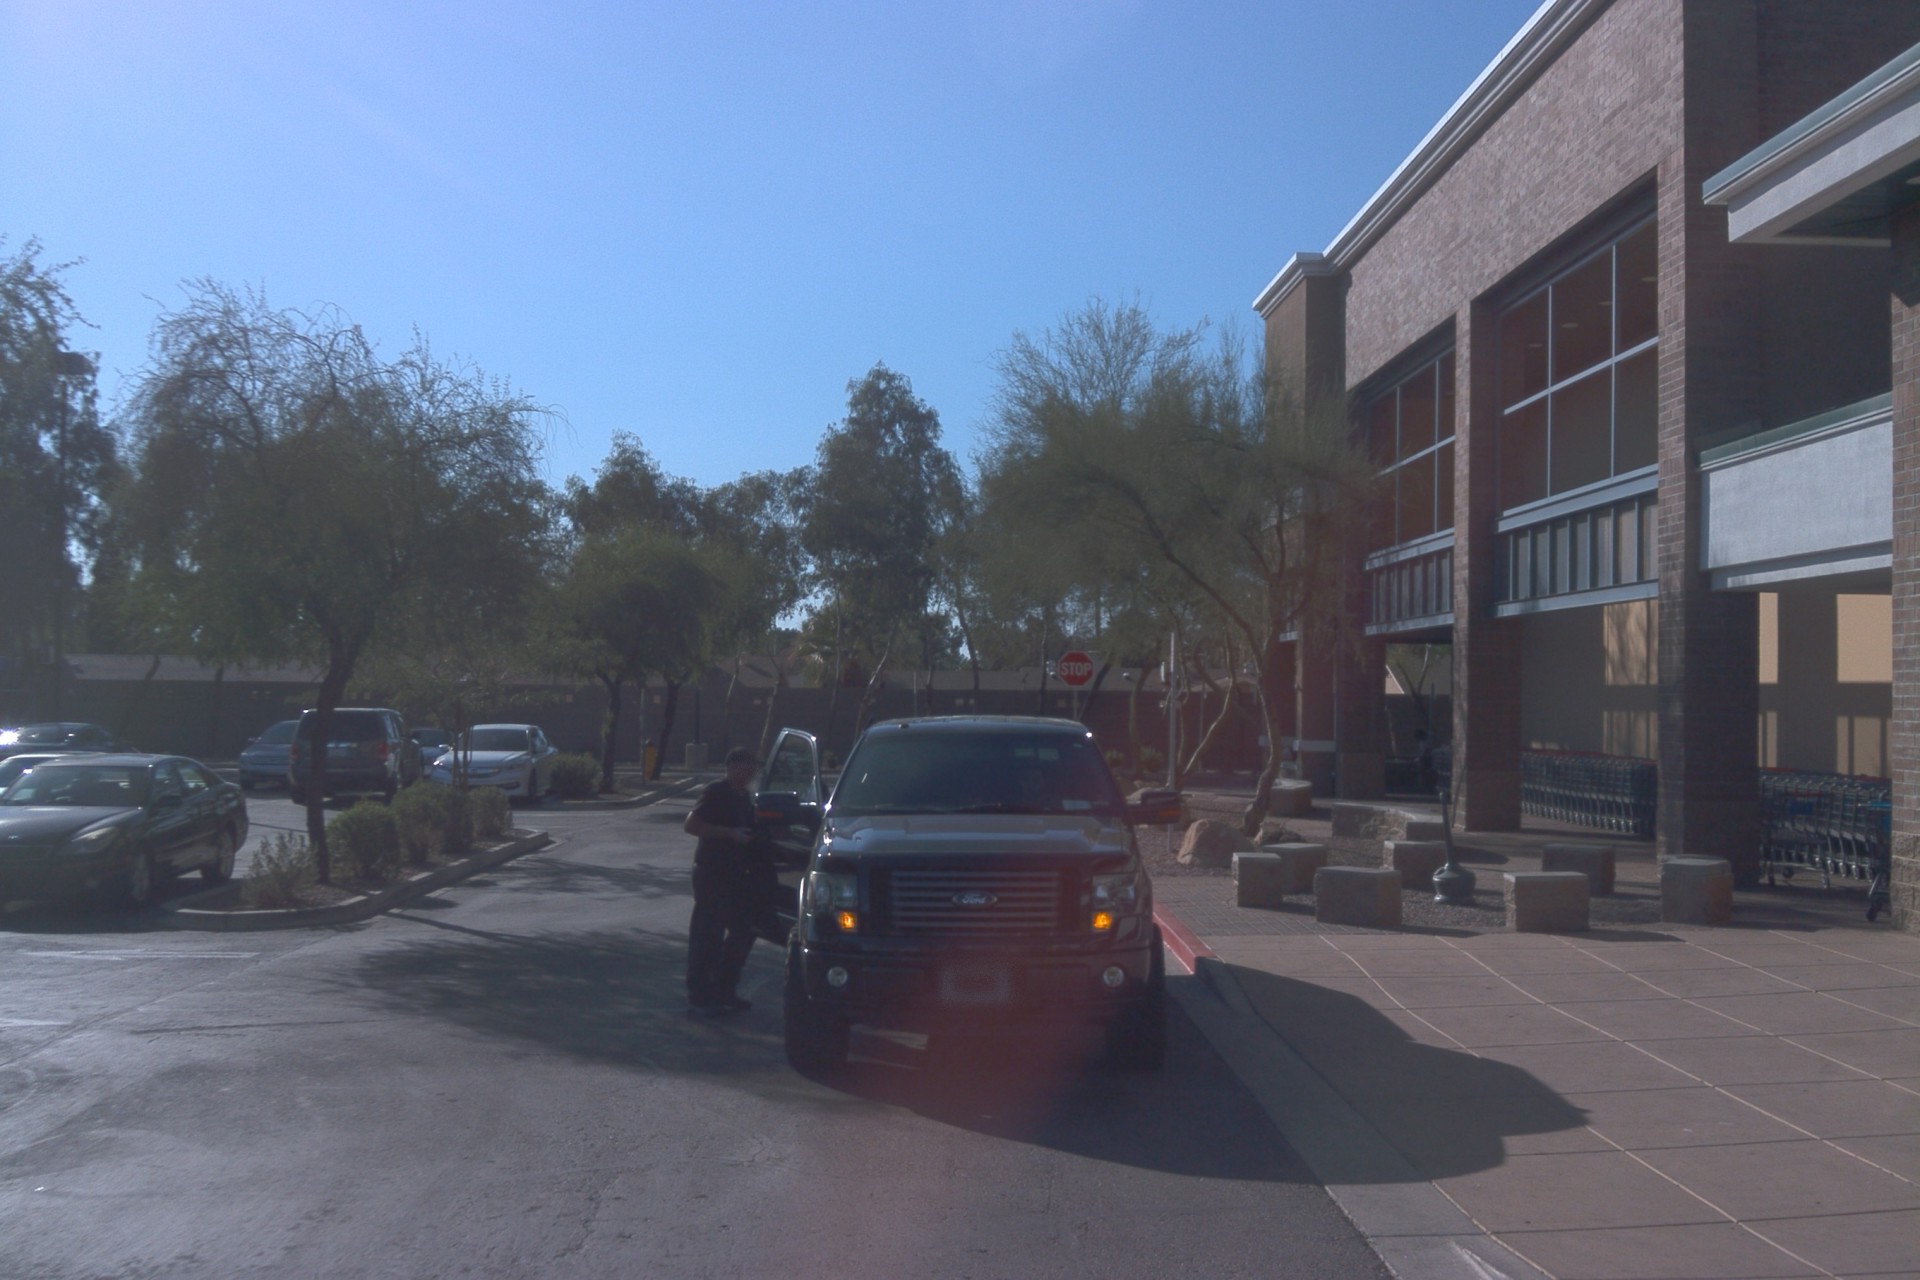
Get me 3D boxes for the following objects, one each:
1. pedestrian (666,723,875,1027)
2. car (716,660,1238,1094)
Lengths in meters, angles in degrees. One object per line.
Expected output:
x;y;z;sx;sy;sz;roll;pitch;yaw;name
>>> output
-1.265;1.493;13.654;1.180;1.870;1.079;0;-1;-15;pedestrian
0.039;1.279;13.449;2.653;2.190;5.667;0;-1;-1;car
